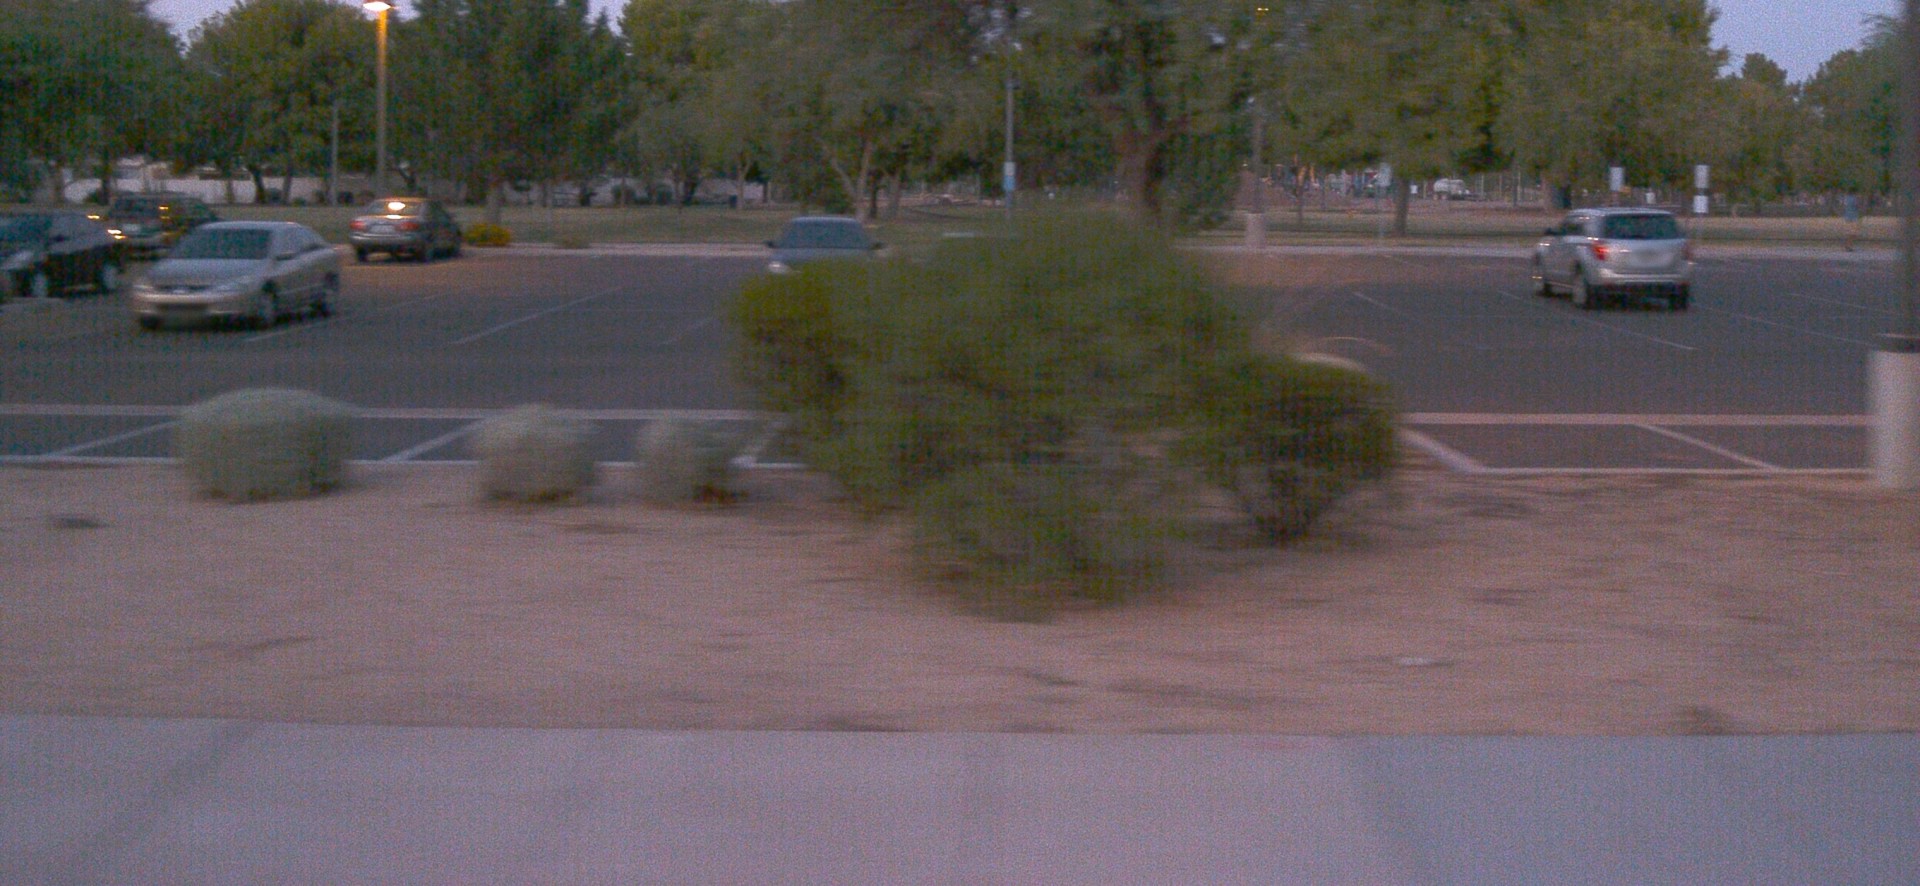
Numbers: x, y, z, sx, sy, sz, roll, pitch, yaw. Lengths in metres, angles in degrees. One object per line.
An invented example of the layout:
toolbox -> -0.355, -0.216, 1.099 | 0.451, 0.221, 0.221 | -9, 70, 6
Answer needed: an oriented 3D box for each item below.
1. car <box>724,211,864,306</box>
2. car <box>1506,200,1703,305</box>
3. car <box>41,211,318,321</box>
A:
car -> -2.742, -3.151, 35.259 | 2.156, 1.485, 4.811 | 0, 5, -2
car -> 10.997, -3.288, 35.702 | 2.155, 1.675, 4.547 | 1, 5, 2
car -> -11.050, -2.562, 29.764 | 2.099, 1.425, 4.786 | 1, 5, 1
